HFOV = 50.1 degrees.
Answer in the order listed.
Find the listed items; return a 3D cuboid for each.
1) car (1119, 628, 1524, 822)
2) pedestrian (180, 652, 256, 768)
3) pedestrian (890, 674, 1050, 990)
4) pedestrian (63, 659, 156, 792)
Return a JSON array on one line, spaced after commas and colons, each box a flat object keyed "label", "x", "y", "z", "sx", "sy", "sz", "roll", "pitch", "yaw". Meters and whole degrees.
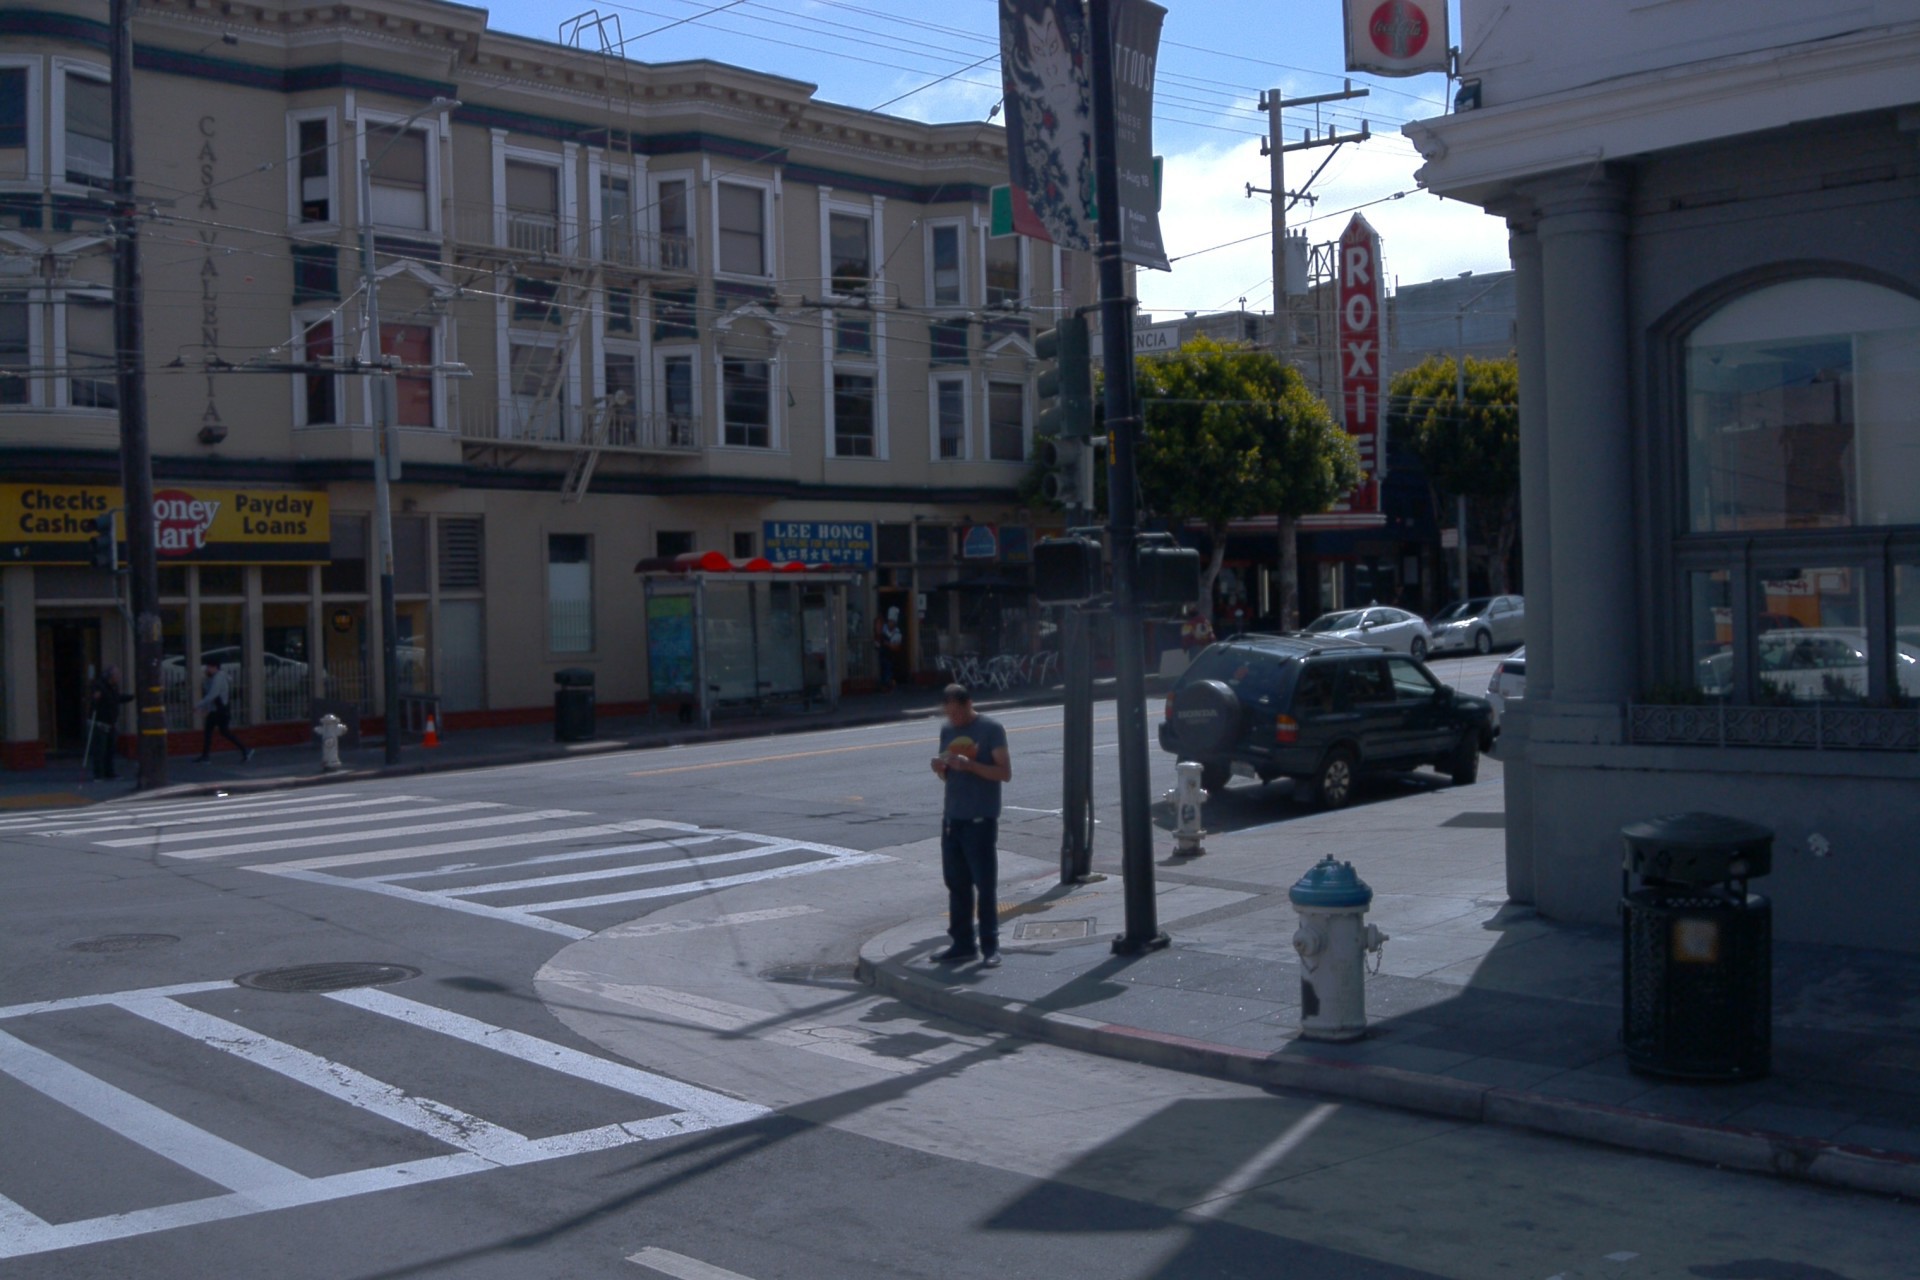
[{"label": "car", "x": 4.043, "y": 0.818, "z": 22.481, "sx": 2.130, "sy": 1.870, "sz": 4.629, "roll": 0, "pitch": 1, "yaw": 44}, {"label": "pedestrian", "x": -11.371, "y": 1.051, "z": 31.500, "sx": 0.962, "sy": 1.720, "sz": 0.919, "roll": 0, "pitch": 0, "yaw": -27}, {"label": "pedestrian", "x": 0.061, "y": 1.167, "z": 12.915, "sx": 0.690, "sy": 1.880, "sz": 0.721, "roll": 0, "pitch": 0, "yaw": -43}, {"label": "pedestrian", "x": -11.989, "y": 1.180, "z": 28.971, "sx": 0.995, "sy": 1.790, "sz": 1.336, "roll": 0, "pitch": 0, "yaw": -32}]
